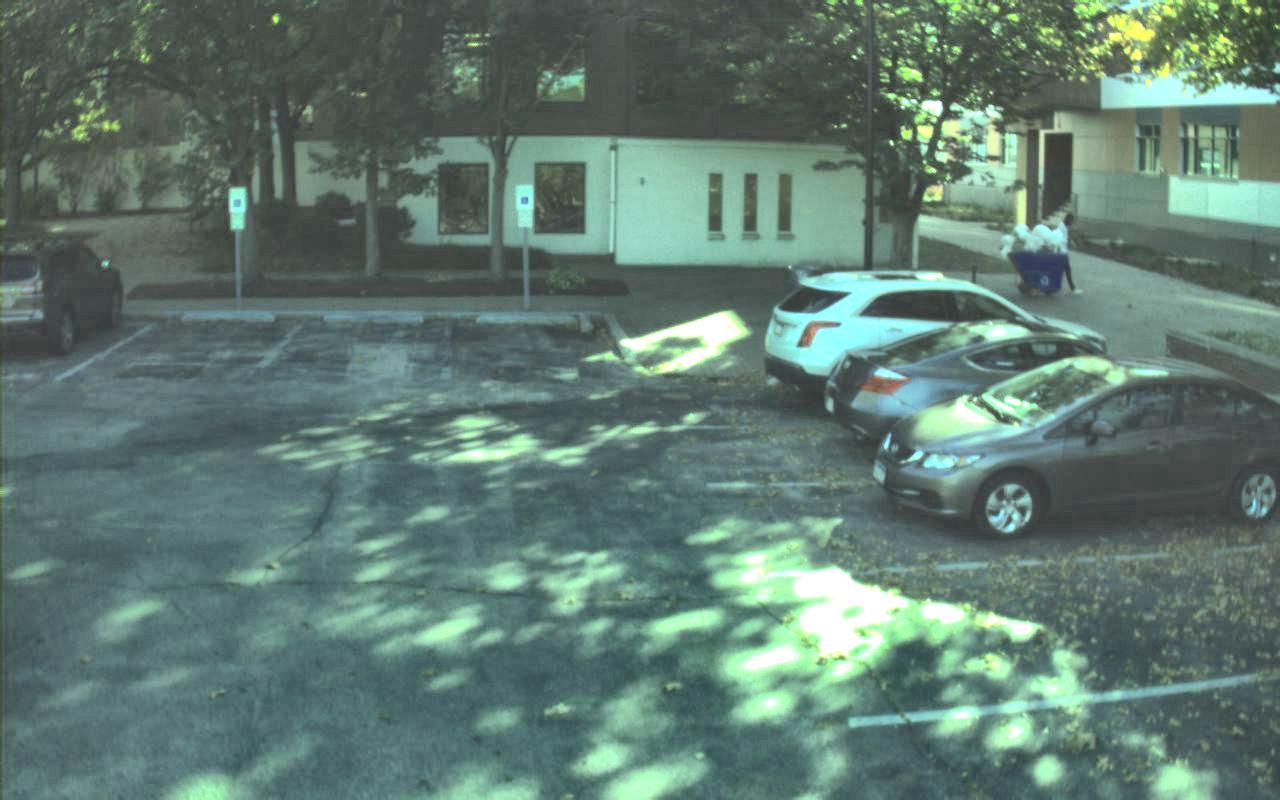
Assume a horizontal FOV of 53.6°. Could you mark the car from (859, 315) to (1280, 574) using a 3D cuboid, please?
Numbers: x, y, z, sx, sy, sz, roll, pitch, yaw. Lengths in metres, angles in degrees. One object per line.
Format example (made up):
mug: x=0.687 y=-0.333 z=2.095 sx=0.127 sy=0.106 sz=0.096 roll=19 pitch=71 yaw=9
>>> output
car: x=4.334 y=0.287 z=10.877 sx=4.388 sy=1.564 sz=1.940 roll=-3 pitch=16 yaw=-5

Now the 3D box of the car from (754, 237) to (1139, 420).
car: x=3.916 y=-1.015 z=15.774 sx=4.624 sy=1.690 sz=1.998 roll=-4 pitch=16 yaw=-9

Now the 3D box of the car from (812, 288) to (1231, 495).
car: x=4.161 y=-0.193 z=13.265 sx=4.295 sy=1.549 sz=1.909 roll=-3 pitch=16 yaw=-7
